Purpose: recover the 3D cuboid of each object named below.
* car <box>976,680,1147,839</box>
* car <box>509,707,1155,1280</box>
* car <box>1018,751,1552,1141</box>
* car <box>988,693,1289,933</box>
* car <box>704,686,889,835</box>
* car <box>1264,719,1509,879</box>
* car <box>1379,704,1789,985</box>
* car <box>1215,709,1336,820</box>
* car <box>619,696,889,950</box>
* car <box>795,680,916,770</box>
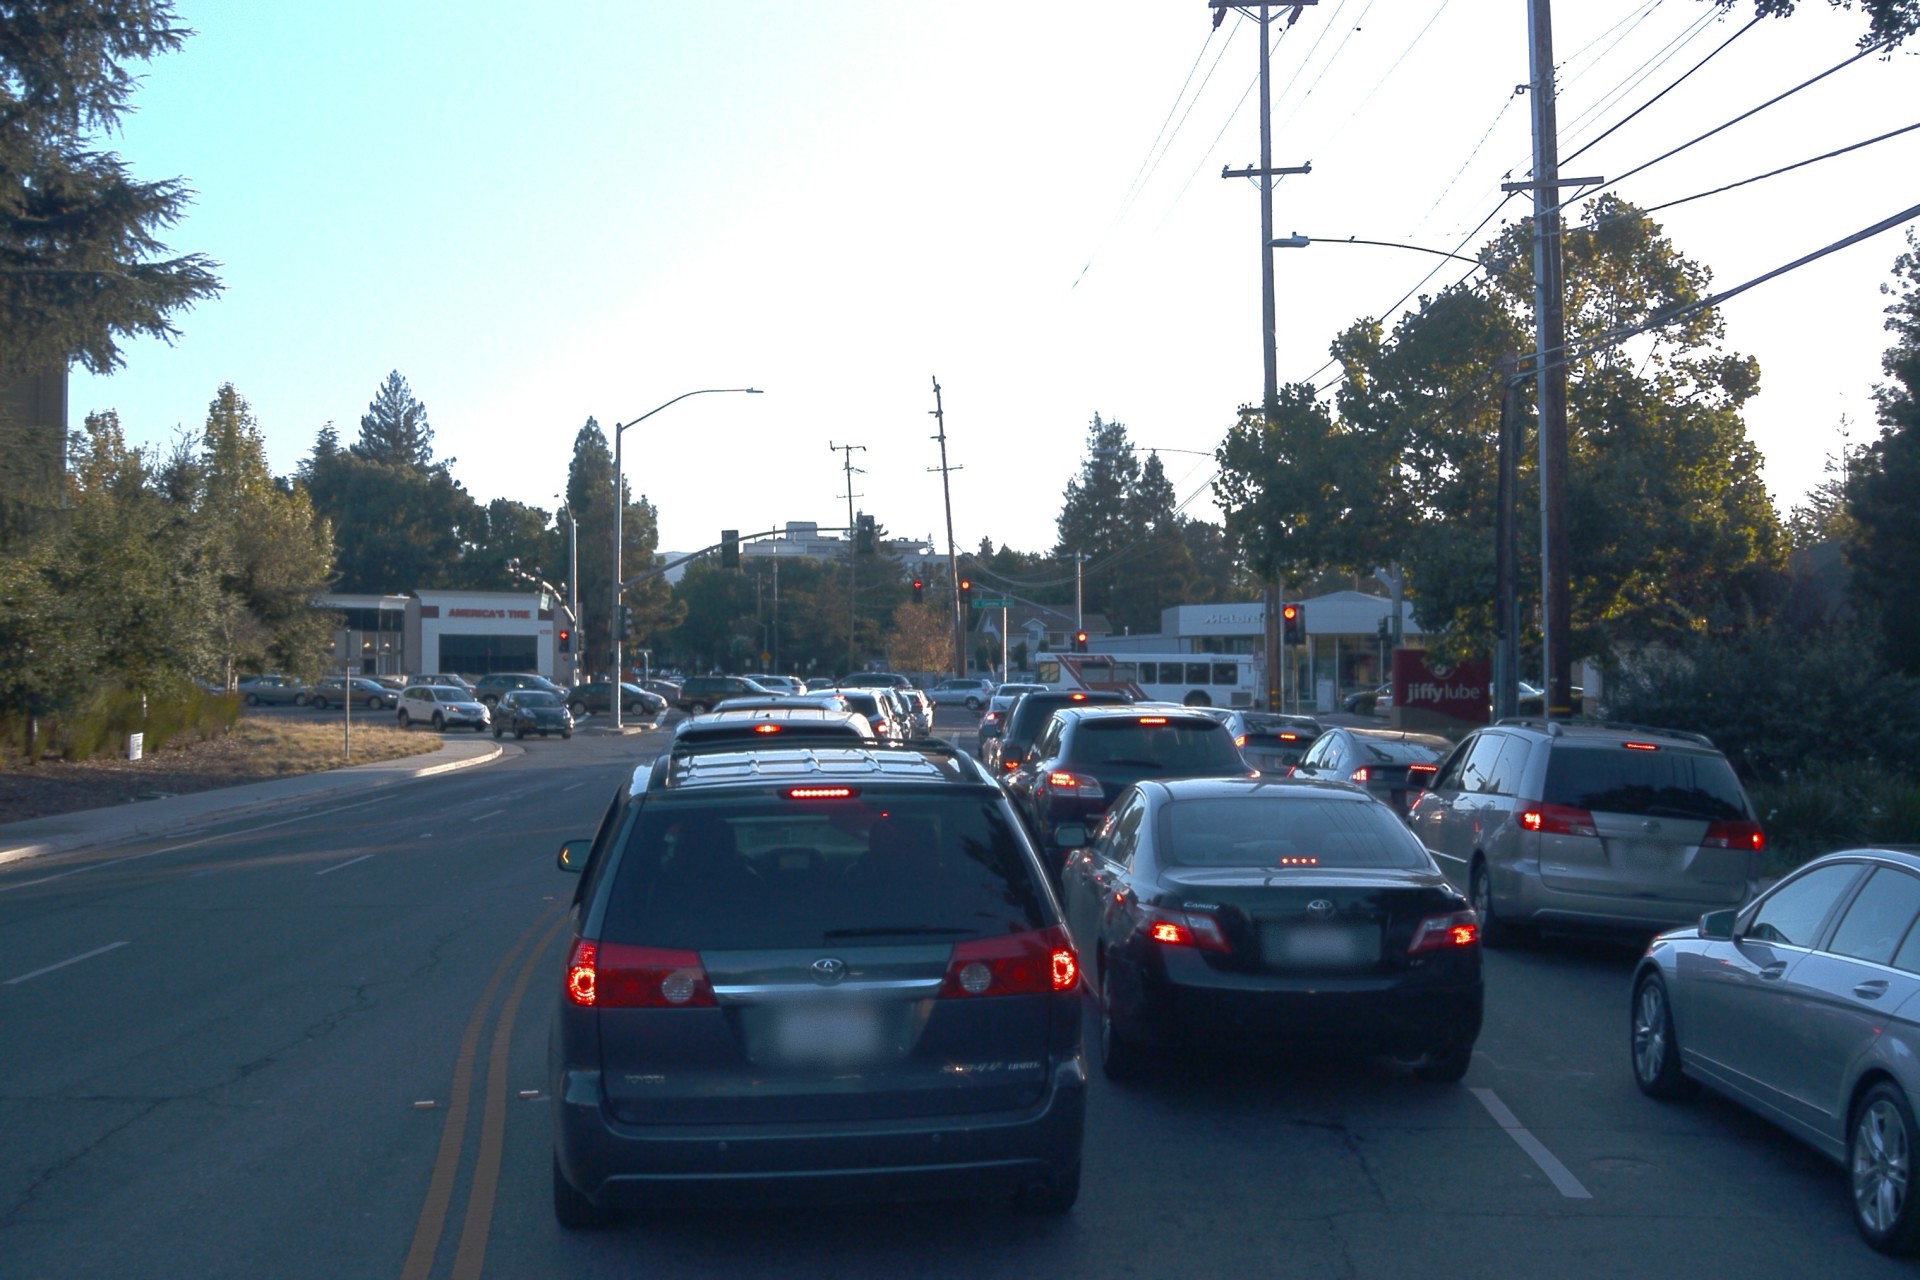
[{"bbox_3d":[1.186,1.412,25.823,1.759,1.770,3.957,0,0,-3],"label":"car"},{"bbox_3d":[-0.811,1.298,9.432,2.102,1.830,5.461,0,0,-9],"label":"car"},{"bbox_3d":[1.509,1.466,11.422,1.915,1.490,4.529,0,0,-4],"label":"car"},{"bbox_3d":[1.458,1.436,18.787,1.992,1.810,4.553,0,0,-5],"label":"car"},{"bbox_3d":[-1.862,1.362,24.680,1.760,1.570,3.956,0,0,2],"label":"car"},{"bbox_3d":[4.676,1.707,23.272,1.785,1.510,4.026,0,0,-2],"label":"car"},{"bbox_3d":[4.903,1.522,17.099,2.061,1.850,4.903,0,0,2],"label":"car"},{"bbox_3d":[4.669,1.818,30.934,1.418,1.490,3.138,0,0,2],"label":"car"},{"bbox_3d":[-1.460,1.289,15.991,1.812,1.620,4.042,0,0,-2],"label":"car"},{"bbox_3d":[-1.661,1.348,33.817,1.709,1.350,3.337,0,0,2],"label":"car"}]
